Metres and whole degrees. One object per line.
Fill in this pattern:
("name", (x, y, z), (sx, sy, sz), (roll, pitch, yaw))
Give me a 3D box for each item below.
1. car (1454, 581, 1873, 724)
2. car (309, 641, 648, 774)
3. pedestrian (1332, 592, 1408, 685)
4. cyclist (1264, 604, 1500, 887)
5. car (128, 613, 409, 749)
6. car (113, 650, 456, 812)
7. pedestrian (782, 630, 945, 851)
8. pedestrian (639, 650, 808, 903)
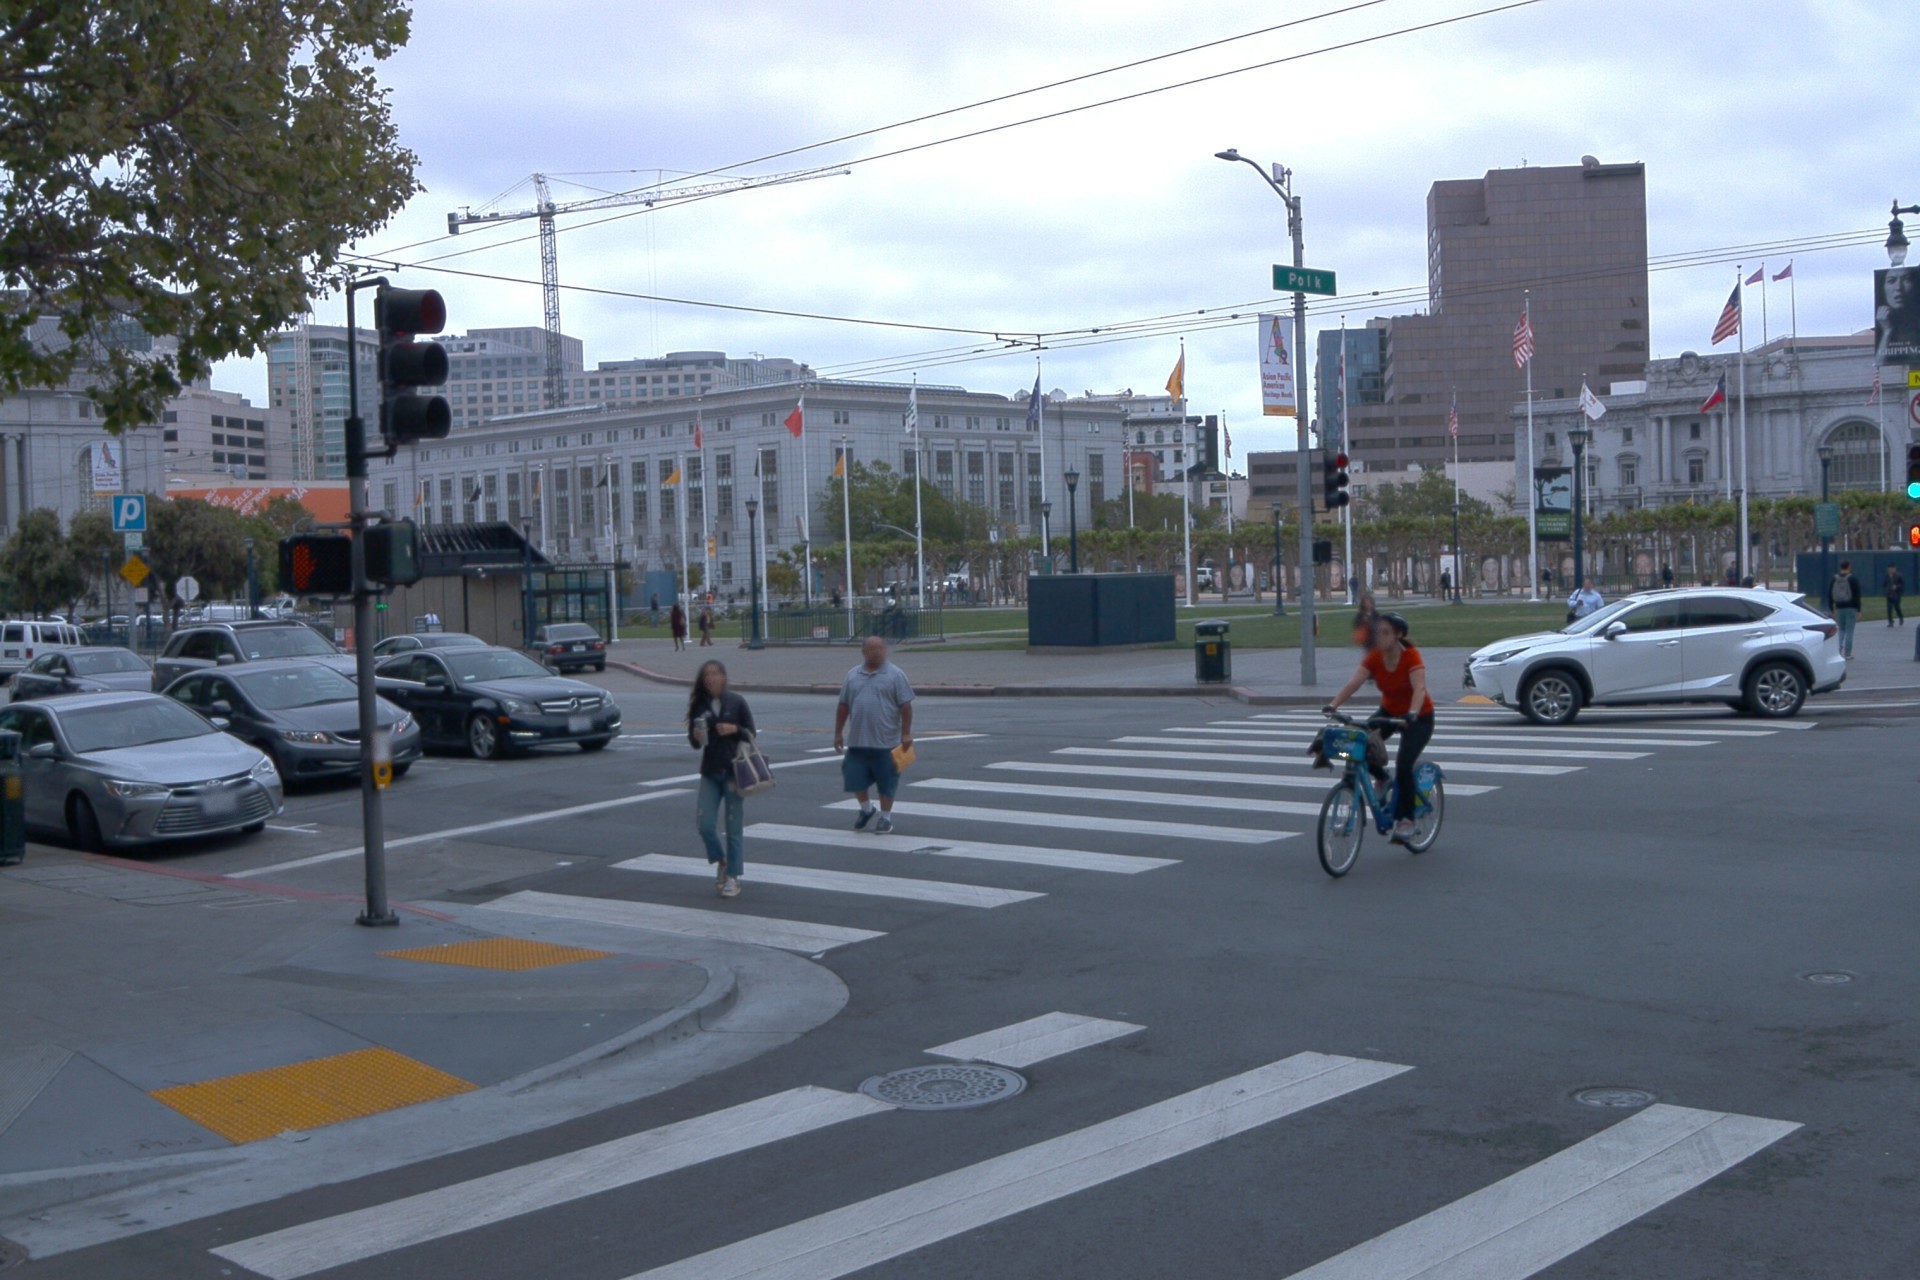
("car", (8.627, 0.125, 25.711), (4.590, 1.692, 2.188), (0, 1, 7))
("car", (-6.255, 0.796, 26.553), (4.497, 1.490, 2.027), (1, 1, 42))
("pedestrian", (7.386, -0.043, 37.212), (1.022, 1.654, 1.011), (0, 1, -14))
("cyclist", (2.997, 0.674, 14.526), (0.825, 1.850, 1.935), (1, 1, 39))
("car", (-10.630, 0.551, 31.568), (4.650, 1.900, 2.138), (1, 1, 44))
("car", (-8.079, 0.986, 24.465), (2.084, 1.630, 4.523), (-1, 1, -44))
("pedestrian", (-0.797, 0.811, 17.423), (0.994, 1.764, 1.162), (0, 1, 20))
("pedestrian", (-1.686, 0.944, 14.843), (0.910, 1.724, 0.993), (0, 1, 14))
